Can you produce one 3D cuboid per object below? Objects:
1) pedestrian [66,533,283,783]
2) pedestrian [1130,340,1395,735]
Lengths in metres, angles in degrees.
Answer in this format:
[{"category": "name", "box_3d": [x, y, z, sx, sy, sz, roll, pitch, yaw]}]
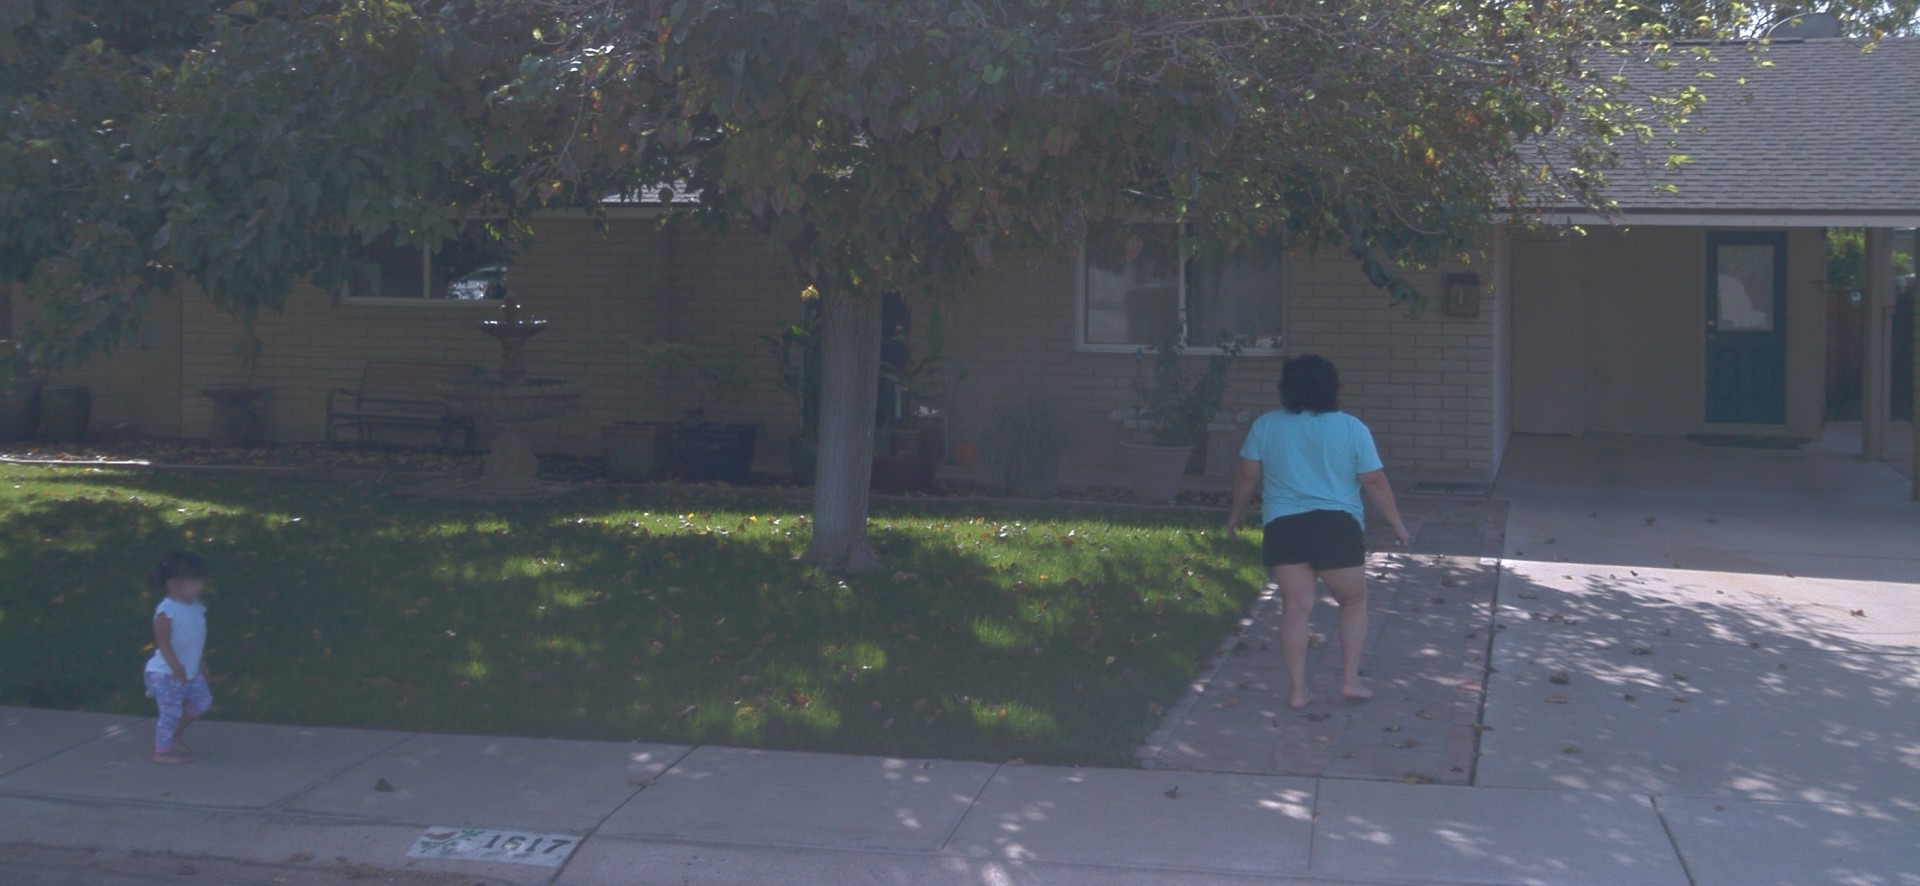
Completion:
[{"category": "pedestrian", "box_3d": [-3.135, 0.843, 8.297, 0.619, 0.869, 0.593, 0, 2, 4]}, {"category": "pedestrian", "box_3d": [1.368, 0.367, 9.263, 0.969, 1.599, 0.857, 1, 2, 24]}]
